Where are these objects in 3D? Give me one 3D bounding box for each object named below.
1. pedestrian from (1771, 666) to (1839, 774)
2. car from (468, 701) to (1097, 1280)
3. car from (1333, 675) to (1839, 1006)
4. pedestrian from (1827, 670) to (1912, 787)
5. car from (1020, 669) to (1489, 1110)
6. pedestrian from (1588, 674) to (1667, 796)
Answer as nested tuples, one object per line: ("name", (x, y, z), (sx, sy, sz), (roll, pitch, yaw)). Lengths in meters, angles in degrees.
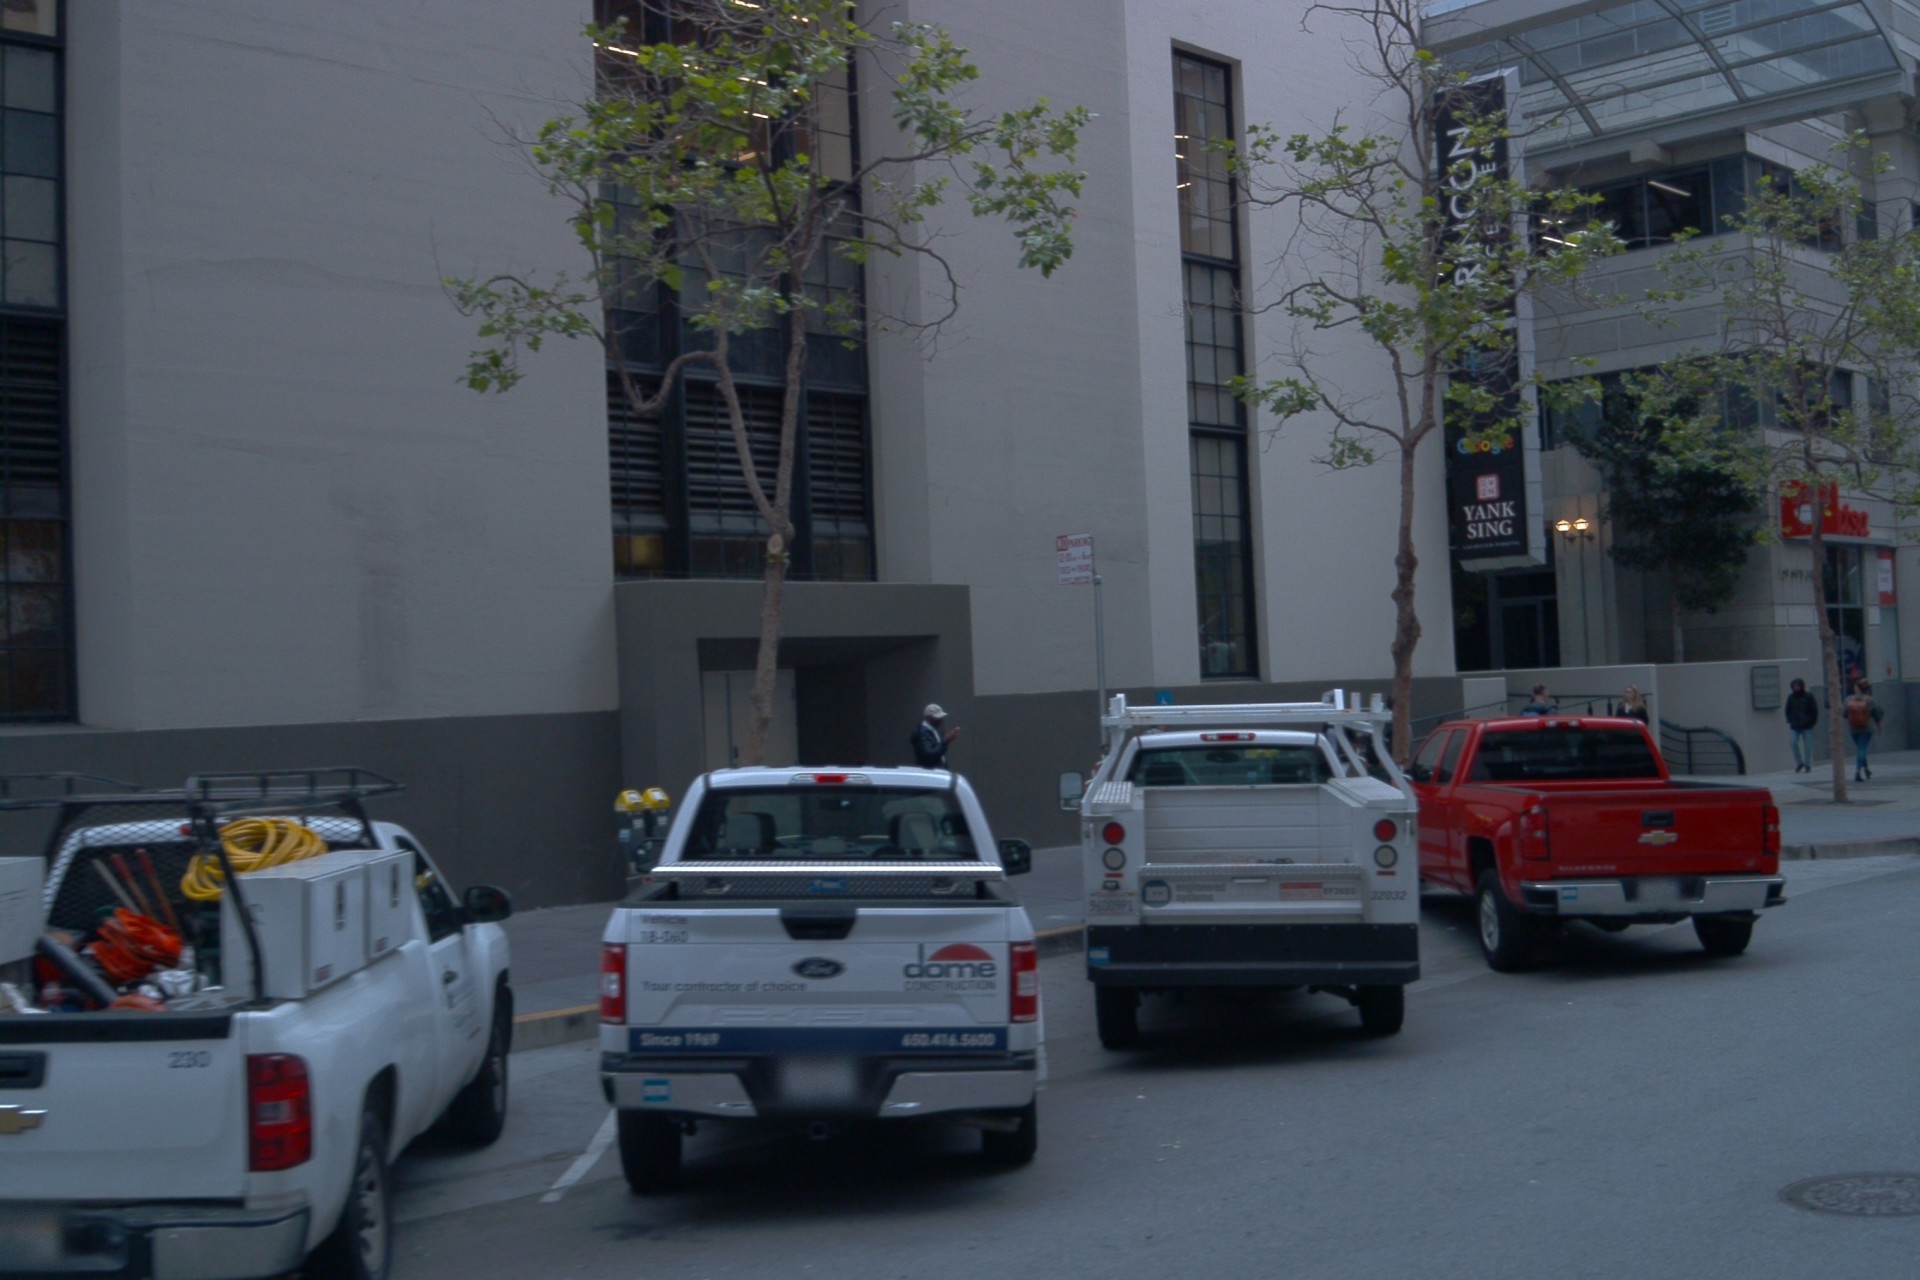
("pedestrian", (14.644, 1.367, 35.754), (0.801, 1.810, 1.068), (0, 1, 39))
("car", (-0.817, 1.565, 11.273), (2.511, 2.200, 5.966), (0, 1, -2))
("car", (4.944, 1.464, 17.482), (2.444, 2.150, 5.881), (0, 1, -1))
("pedestrian", (14.367, 1.379, 32.596), (0.922, 1.774, 1.017), (1, 1, 45))
("car", (1.891, 1.461, 14.633), (2.659, 2.344, 5.688), (0, 1, 4))
("pedestrian", (10.073, 1.416, 31.141), (0.904, 1.760, 0.794), (-1, 1, -43))
